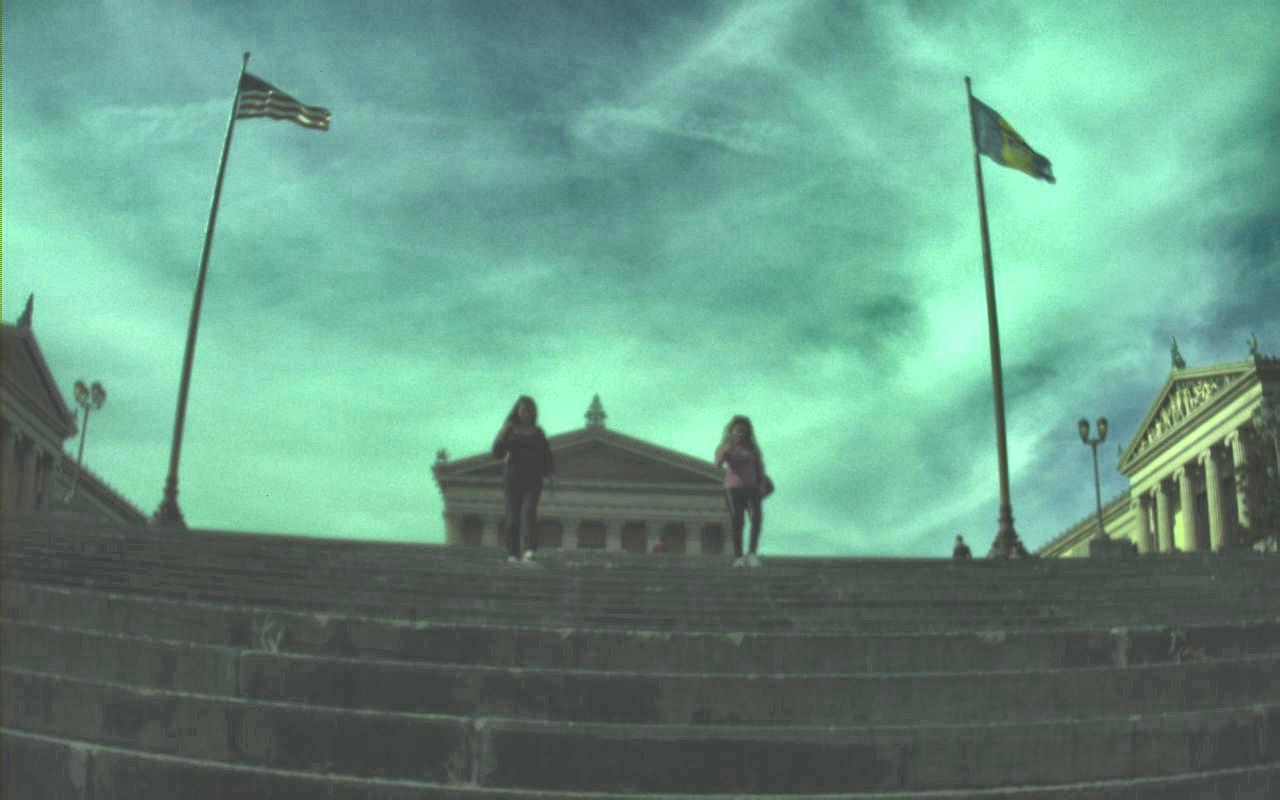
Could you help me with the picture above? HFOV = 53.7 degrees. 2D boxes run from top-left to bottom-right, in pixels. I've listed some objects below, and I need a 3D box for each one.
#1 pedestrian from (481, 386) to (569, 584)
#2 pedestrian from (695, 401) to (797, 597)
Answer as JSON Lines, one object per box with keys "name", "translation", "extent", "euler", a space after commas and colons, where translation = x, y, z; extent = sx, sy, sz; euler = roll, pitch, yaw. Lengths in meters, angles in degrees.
{"name": "pedestrian", "translation": [-1.119, 0.797, 12.047], "extent": [0.790, 1.842, 0.804], "euler": [0, 0, -10]}
{"name": "pedestrian", "translation": [0.989, 0.914, 11.923], "extent": [0.782, 1.786, 0.787], "euler": [0, 0, -10]}
